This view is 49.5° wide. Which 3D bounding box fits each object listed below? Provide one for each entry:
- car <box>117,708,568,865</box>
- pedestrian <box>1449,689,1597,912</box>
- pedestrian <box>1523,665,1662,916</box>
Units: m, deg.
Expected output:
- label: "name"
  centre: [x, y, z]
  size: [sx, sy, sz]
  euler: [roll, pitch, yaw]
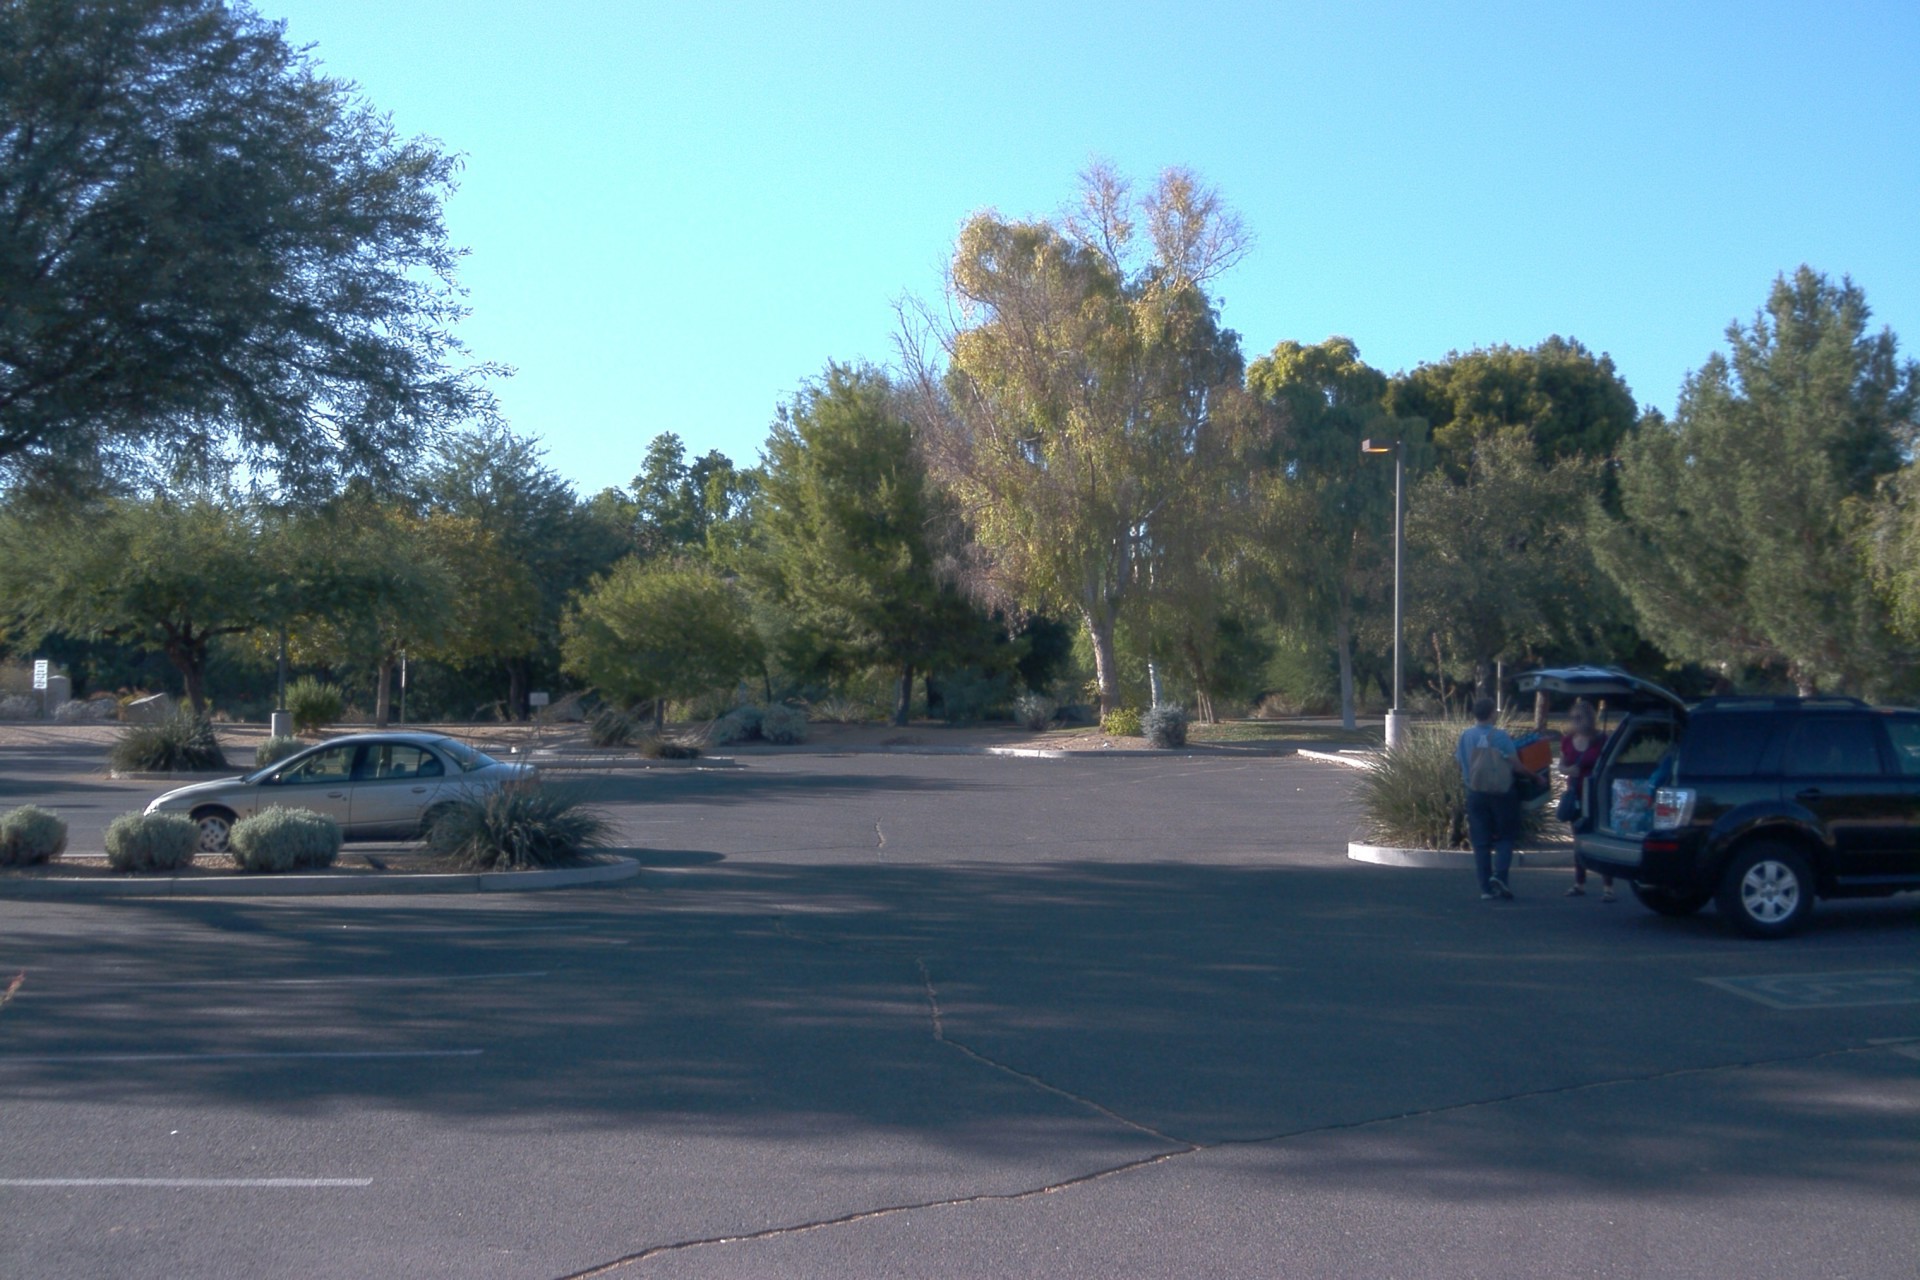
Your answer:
- label: "car"
  centre: [-6.837, 1.620, 23.435]
  size: [4.511, 1.604, 1.947]
  euler: [1, 0, -4]
- label: "pedestrian"
  centre: [4.797, 1.329, 17.711]
  size: [0.997, 1.790, 1.003]
  euler: [1, 0, 28]
- label: "pedestrian"
  centre: [5.359, 1.237, 17.614]
  size: [0.888, 2.040, 0.889]
  euler: [0, 0, 34]
